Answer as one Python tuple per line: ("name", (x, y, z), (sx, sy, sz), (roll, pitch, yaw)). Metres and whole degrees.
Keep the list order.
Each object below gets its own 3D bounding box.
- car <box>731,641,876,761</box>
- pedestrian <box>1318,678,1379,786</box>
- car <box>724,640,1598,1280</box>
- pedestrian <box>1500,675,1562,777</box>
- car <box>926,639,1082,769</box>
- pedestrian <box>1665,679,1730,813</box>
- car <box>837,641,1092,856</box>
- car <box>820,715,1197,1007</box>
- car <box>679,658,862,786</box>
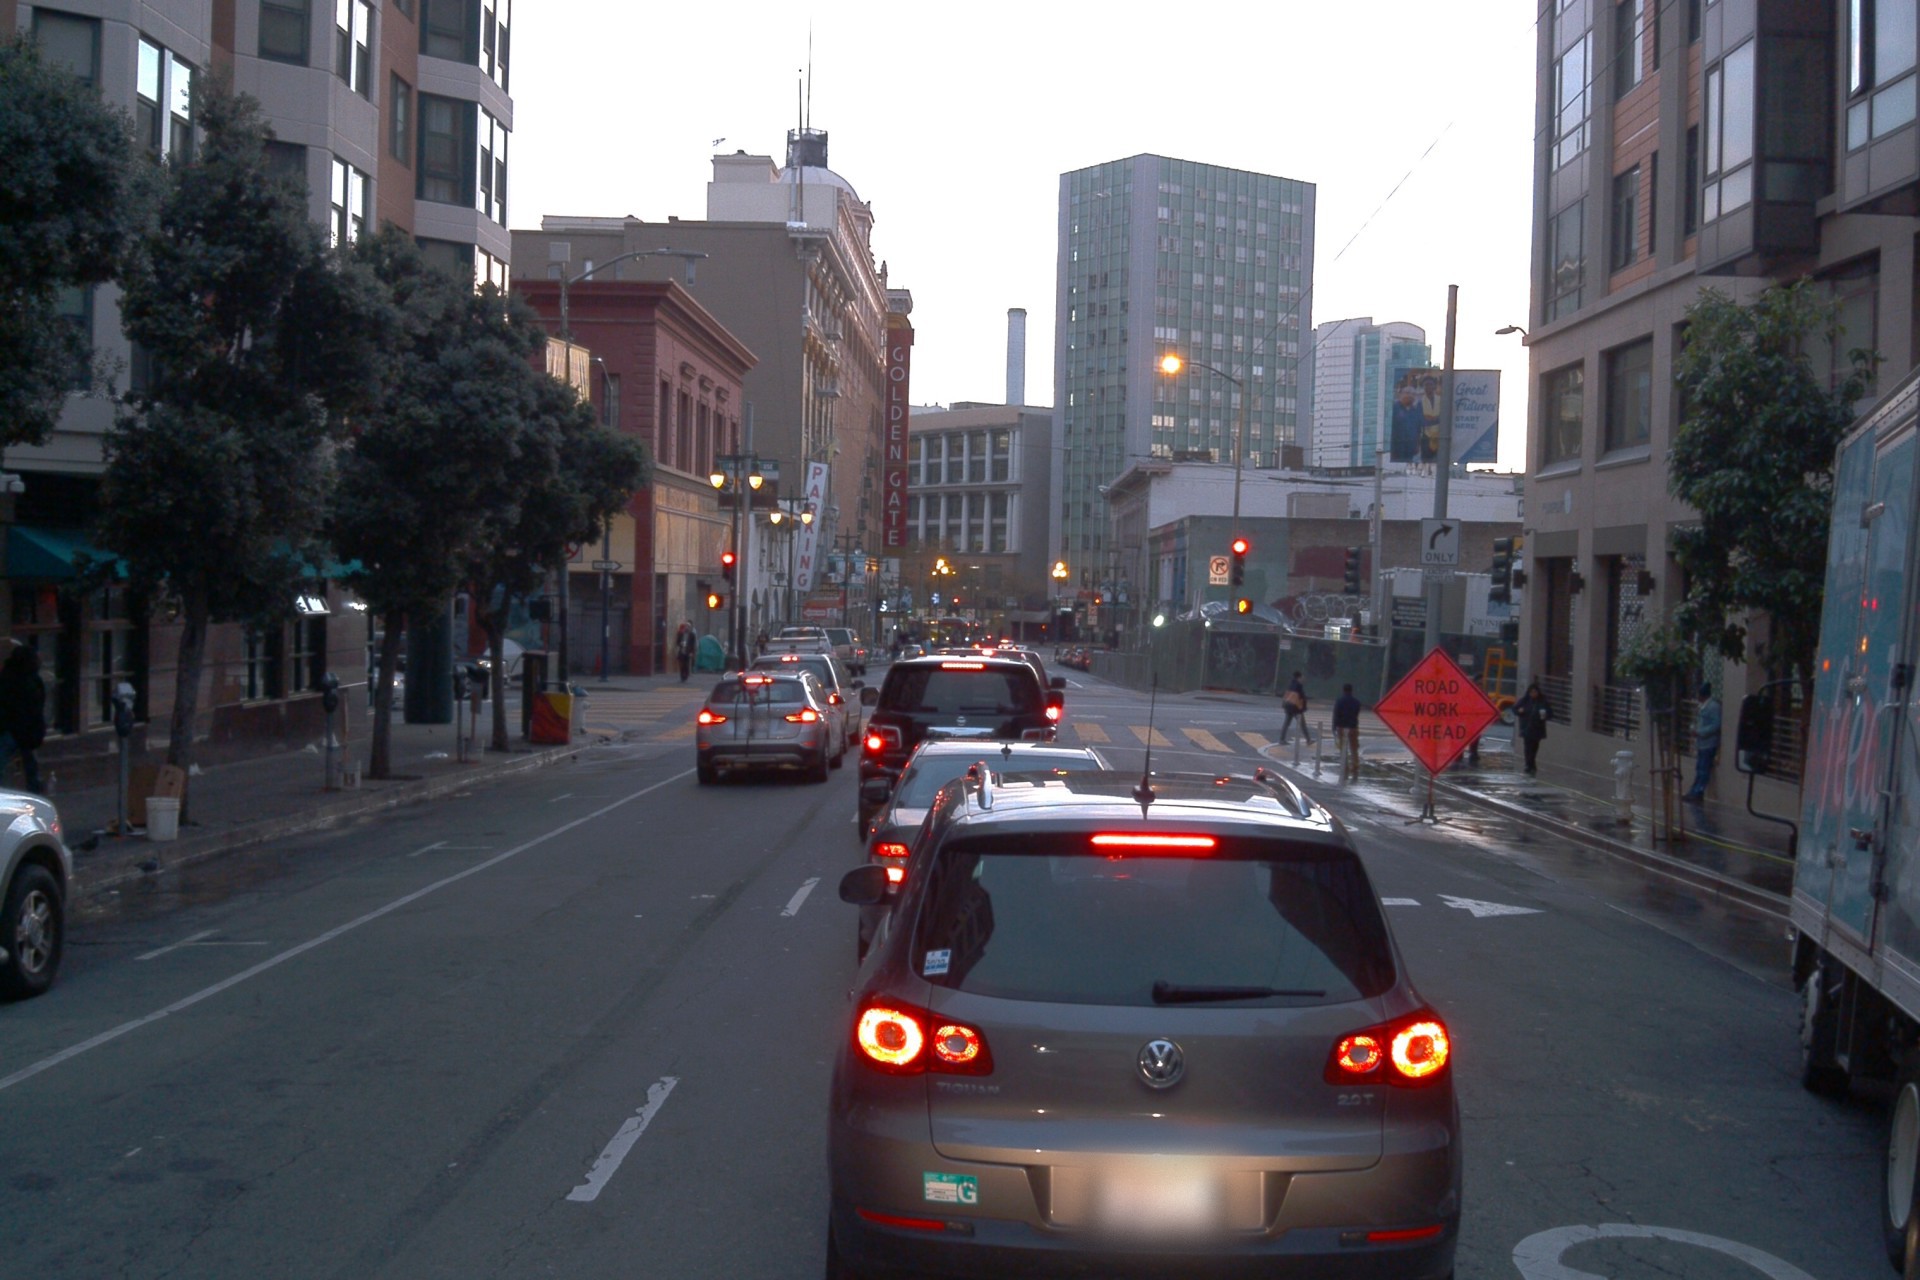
("car", (-2.657, 0.994, 35.547), (1.896, 1.880, 4.462), (1, 1, 4))
("pedestrian", (6.687, 1.574, 35.069), (0.777, 1.790, 0.924), (1, 1, -5))
("car", (0.546, 1.062, 7.023), (2.109, 2.050, 3.981), (1, 1, 2))
("pedestrian", (10.186, 1.524, 36.366), (0.879, 1.760, 0.904), (1, 1, 6))
("car", (0.622, 0.853, 29.391), (2.036, 1.650, 4.678), (1, 1, 1))
("pedestrian", (10.762, 1.532, 29.715), (0.659, 1.890, 0.755), (1, 1, 4))
("car", (0.036, 1.027, 21.904), (2.368, 1.940, 5.339), (1, 1, 0))
("car", (0.292, 1.323, 13.592), (2.089, 1.400, 4.279), (1, 1, 1))
("car", (-2.614, 1.108, 29.095), (2.110, 1.572, 4.118), (1, 1, 1))
